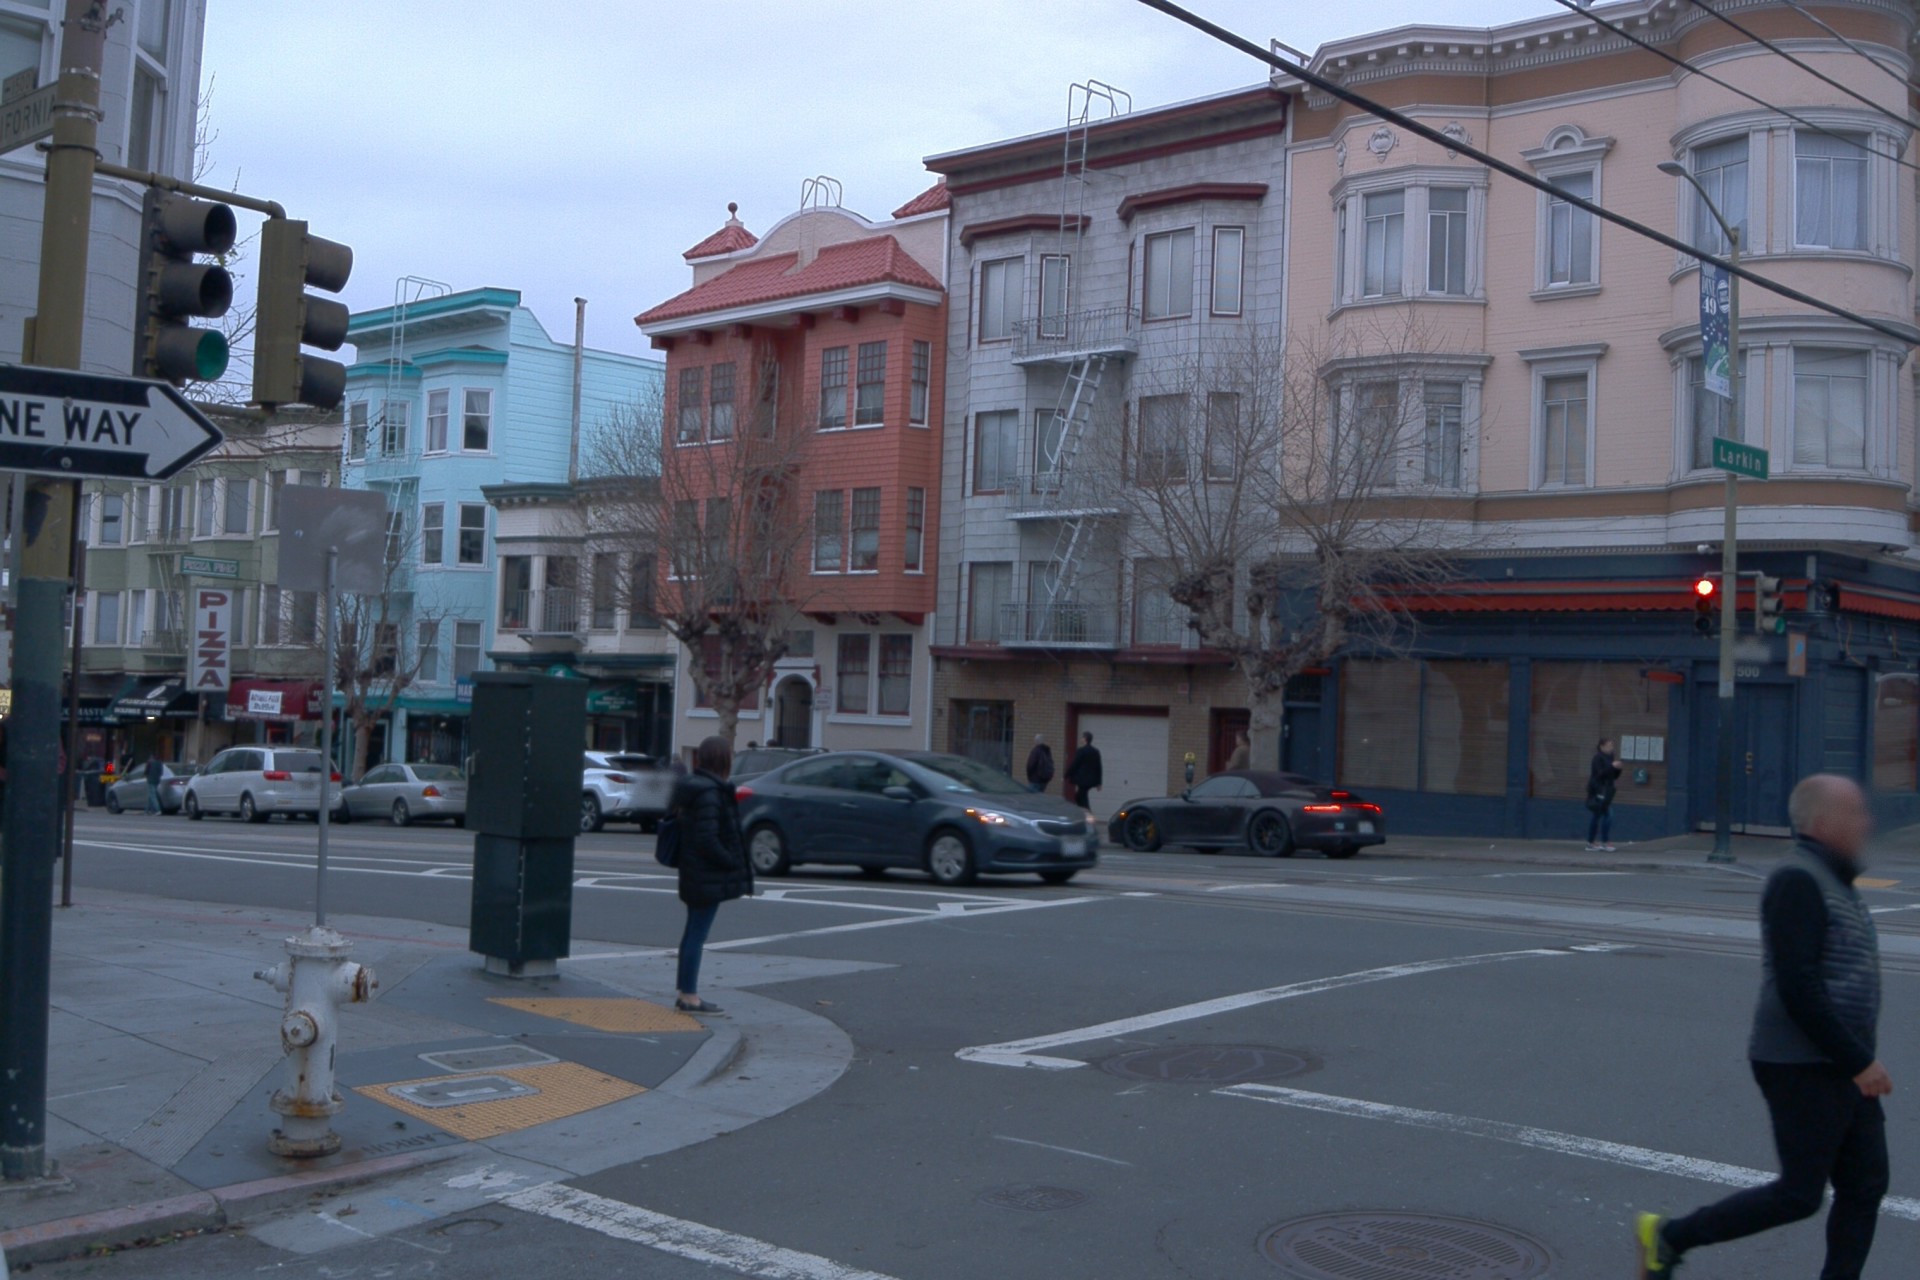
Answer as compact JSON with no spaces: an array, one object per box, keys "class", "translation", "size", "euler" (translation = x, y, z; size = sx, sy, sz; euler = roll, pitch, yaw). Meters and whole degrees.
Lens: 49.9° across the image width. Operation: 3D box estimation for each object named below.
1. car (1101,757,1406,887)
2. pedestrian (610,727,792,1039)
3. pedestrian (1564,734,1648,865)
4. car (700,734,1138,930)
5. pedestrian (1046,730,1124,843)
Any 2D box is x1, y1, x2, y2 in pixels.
[{"class":"car","translation":[4.283,2.623,30.588],"size":[1.947,1.460,4.186],"euler":[-1,1,-43]},{"class":"pedestrian","translation":[-1.528,1.391,12.144],"size":[0.846,1.692,0.707],"euler":[-1,1,-32]},{"class":"pedestrian","translation":[9.434,2.316,30.147],"size":[0.938,1.800,0.779],"euler":[1,1,41]},{"class":"car","translation":[-0.525,1.965,22.309],"size":[4.575,1.600,2.081],"euler":[1,1,43]},{"class":"pedestrian","translation":[2.247,2.620,37.190],"size":[1.080,1.913,0.903],"euler":[1,1,44]}]
